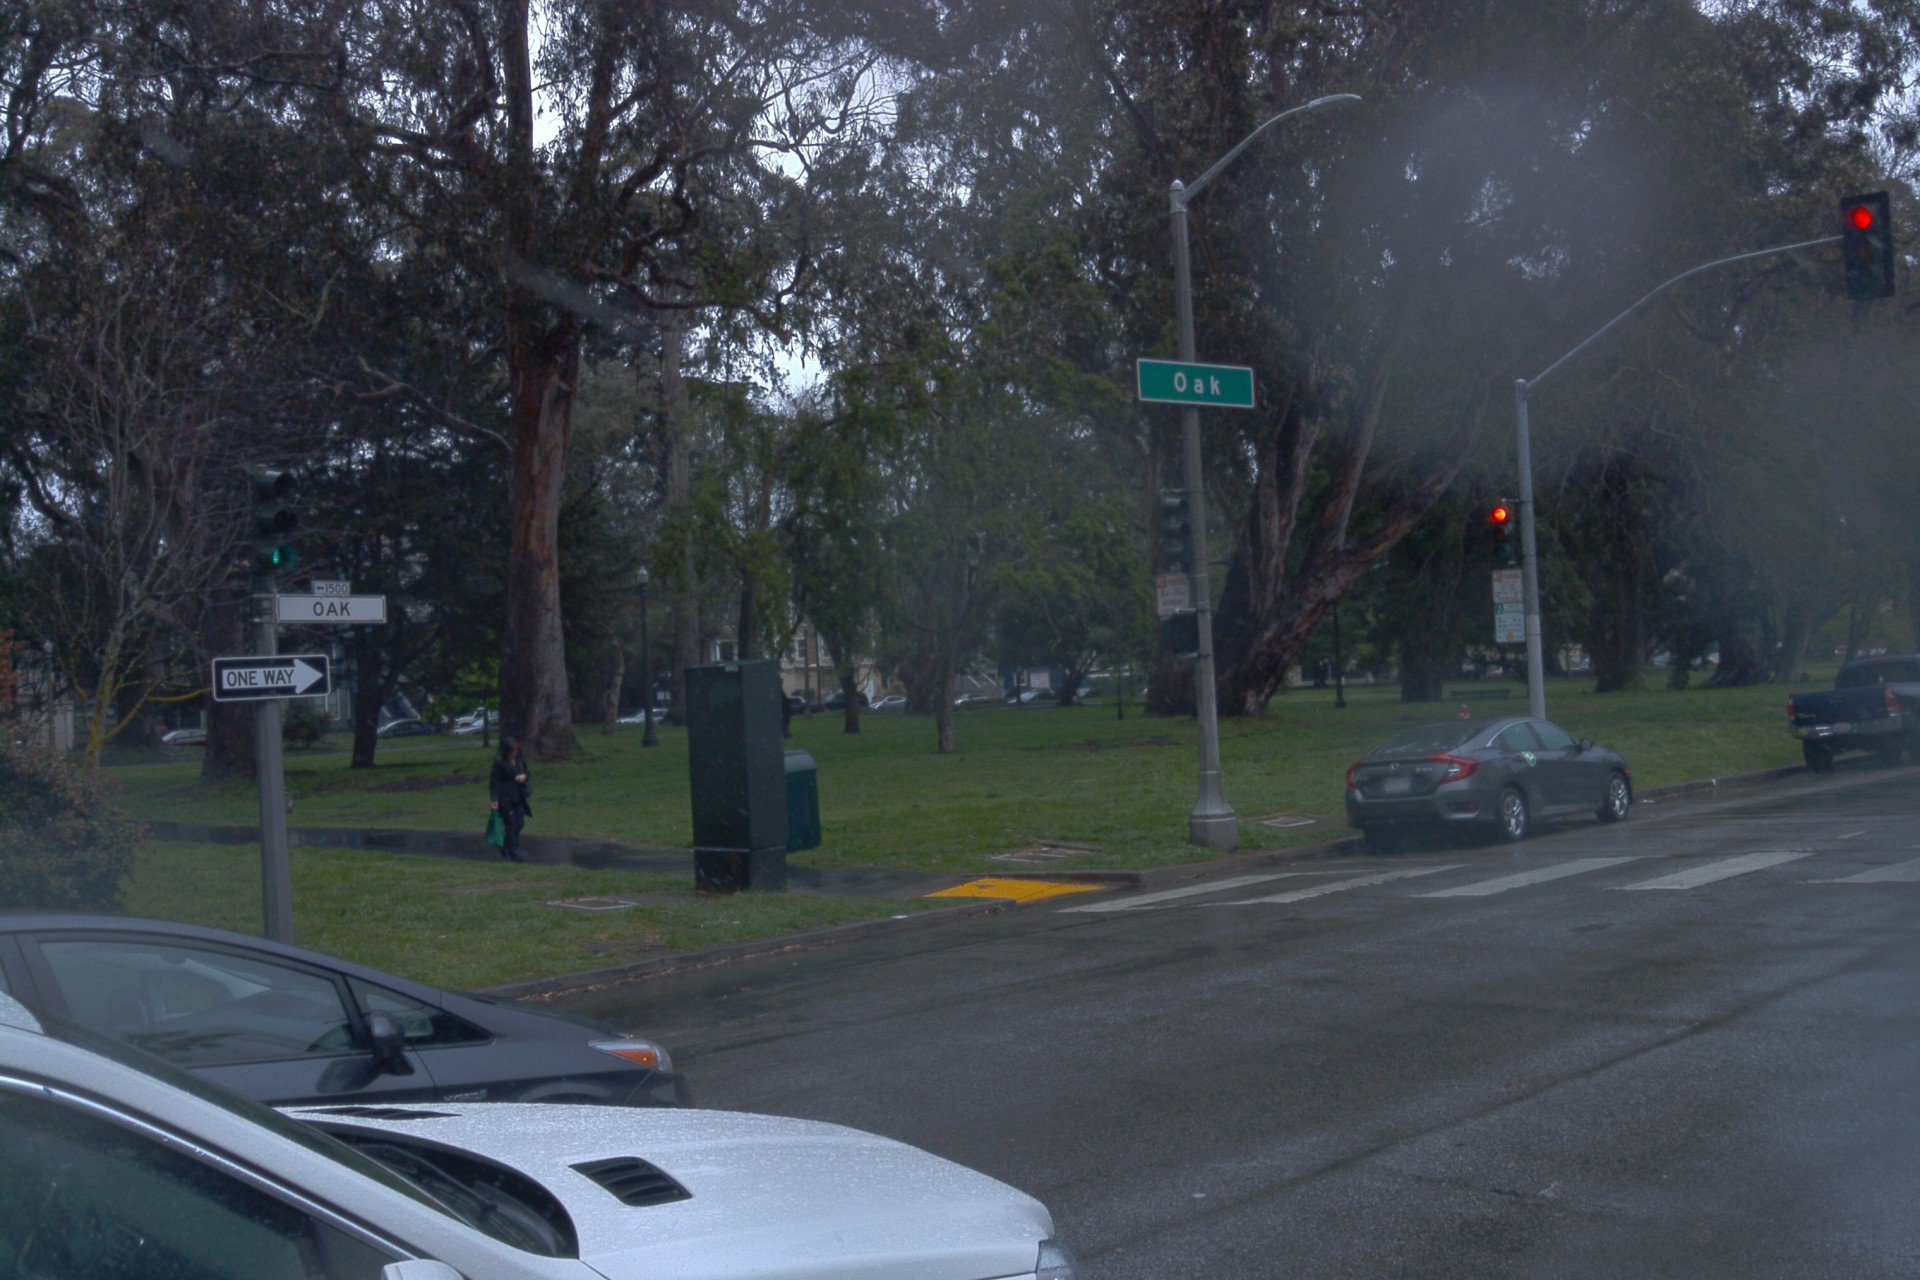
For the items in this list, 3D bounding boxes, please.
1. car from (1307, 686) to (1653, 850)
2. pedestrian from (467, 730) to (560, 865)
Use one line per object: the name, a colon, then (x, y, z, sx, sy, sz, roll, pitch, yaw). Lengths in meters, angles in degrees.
car: (6.194, 1.415, 24.128, 2.031, 1.540, 4.554, 1, 2, 42)
pedestrian: (-5.472, 1.915, 25.160, 0.722, 1.560, 0.835, 1, 2, 39)
